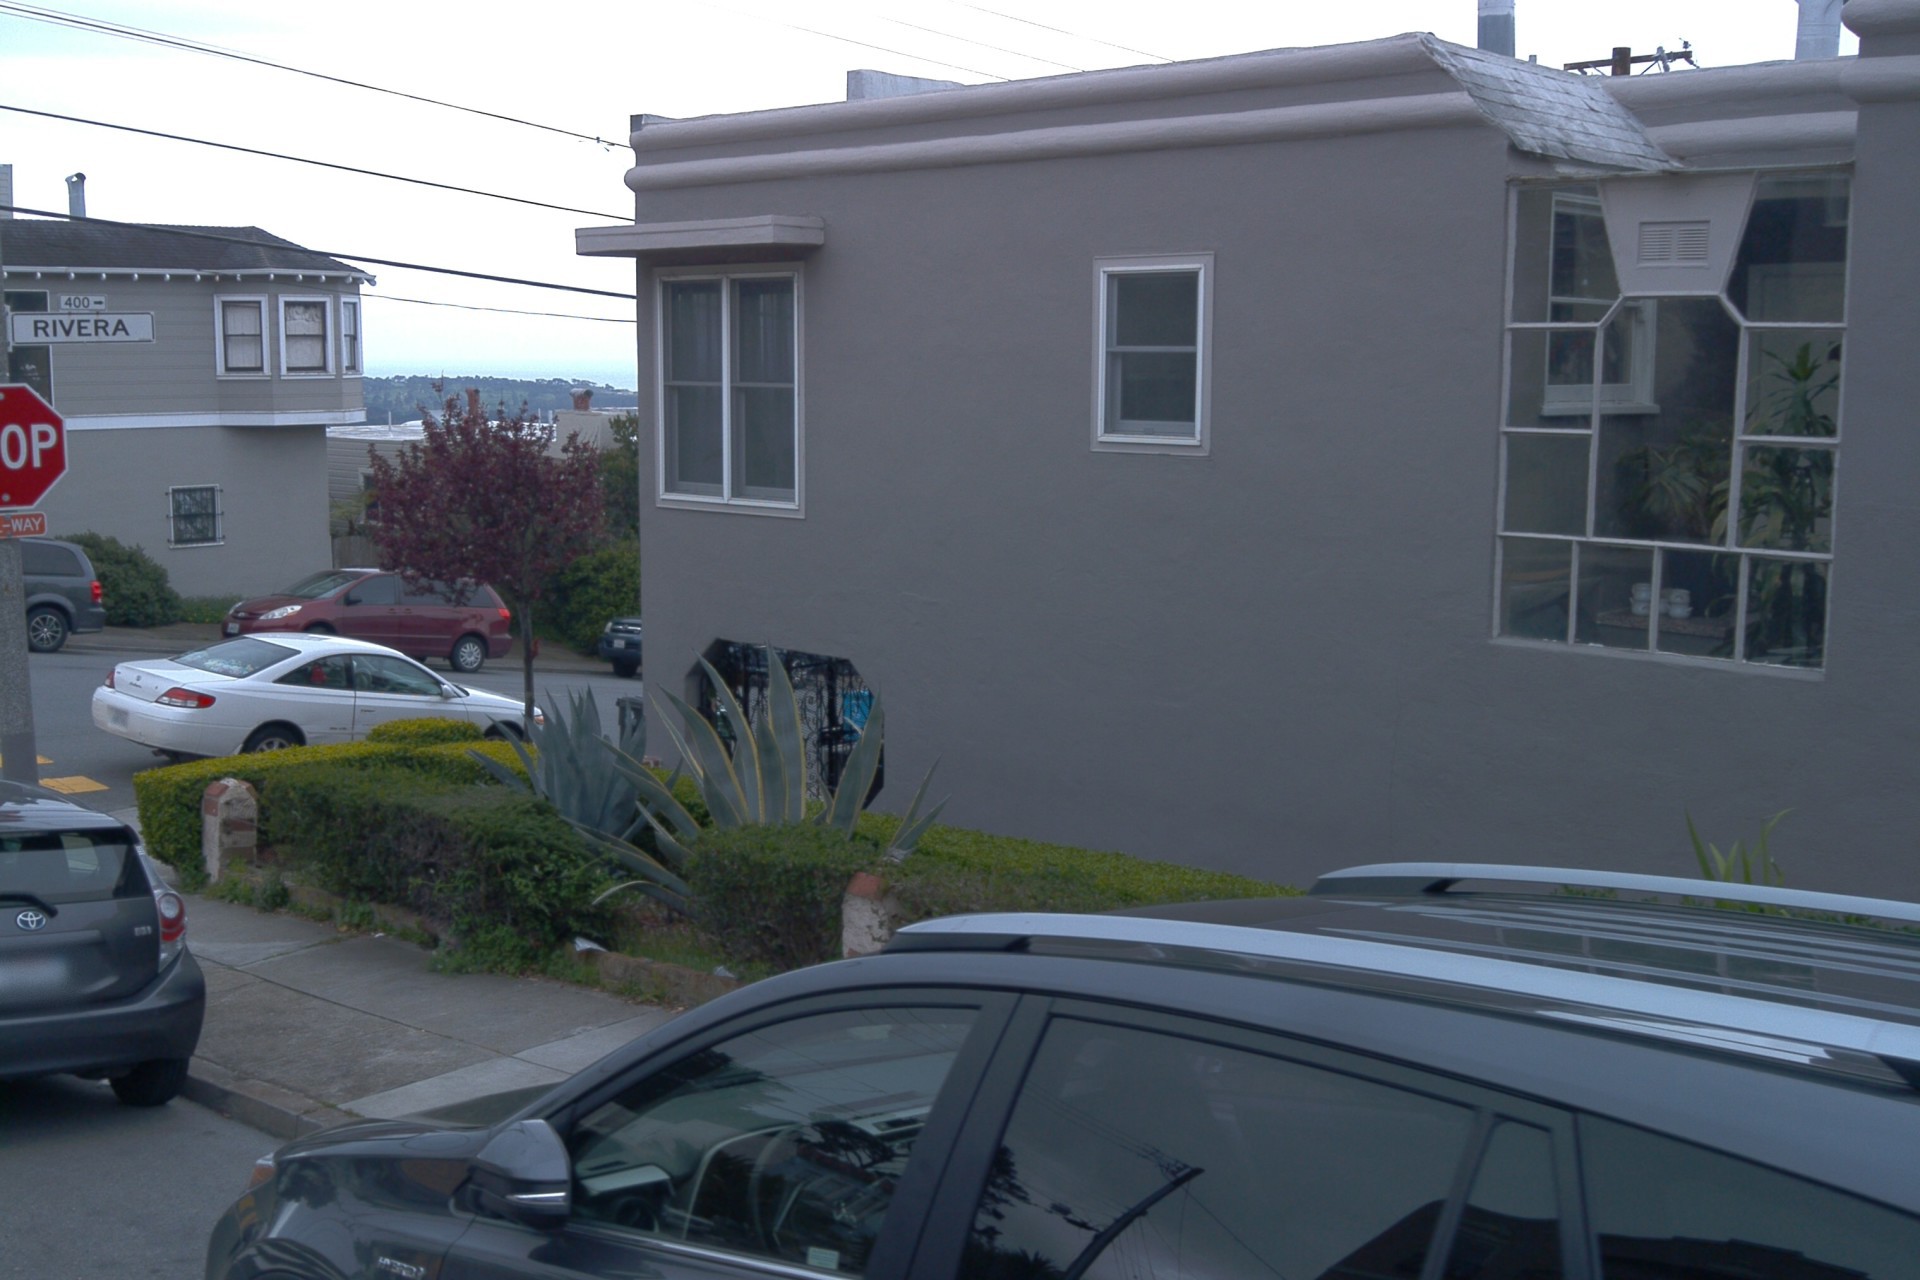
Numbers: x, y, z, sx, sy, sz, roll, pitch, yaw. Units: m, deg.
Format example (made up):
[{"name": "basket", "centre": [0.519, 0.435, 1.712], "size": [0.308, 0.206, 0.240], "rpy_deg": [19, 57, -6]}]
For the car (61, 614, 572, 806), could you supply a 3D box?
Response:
[{"name": "car", "centre": [-6.391, 0.632, 20.918], "size": [1.985, 1.720, 4.615], "rpy_deg": [0, 0, 40]}]

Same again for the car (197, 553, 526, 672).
[{"name": "car", "centre": [-10.357, -0.437, 35.947], "size": [2.210, 1.930, 5.121], "rpy_deg": [0, 0, 42]}]
